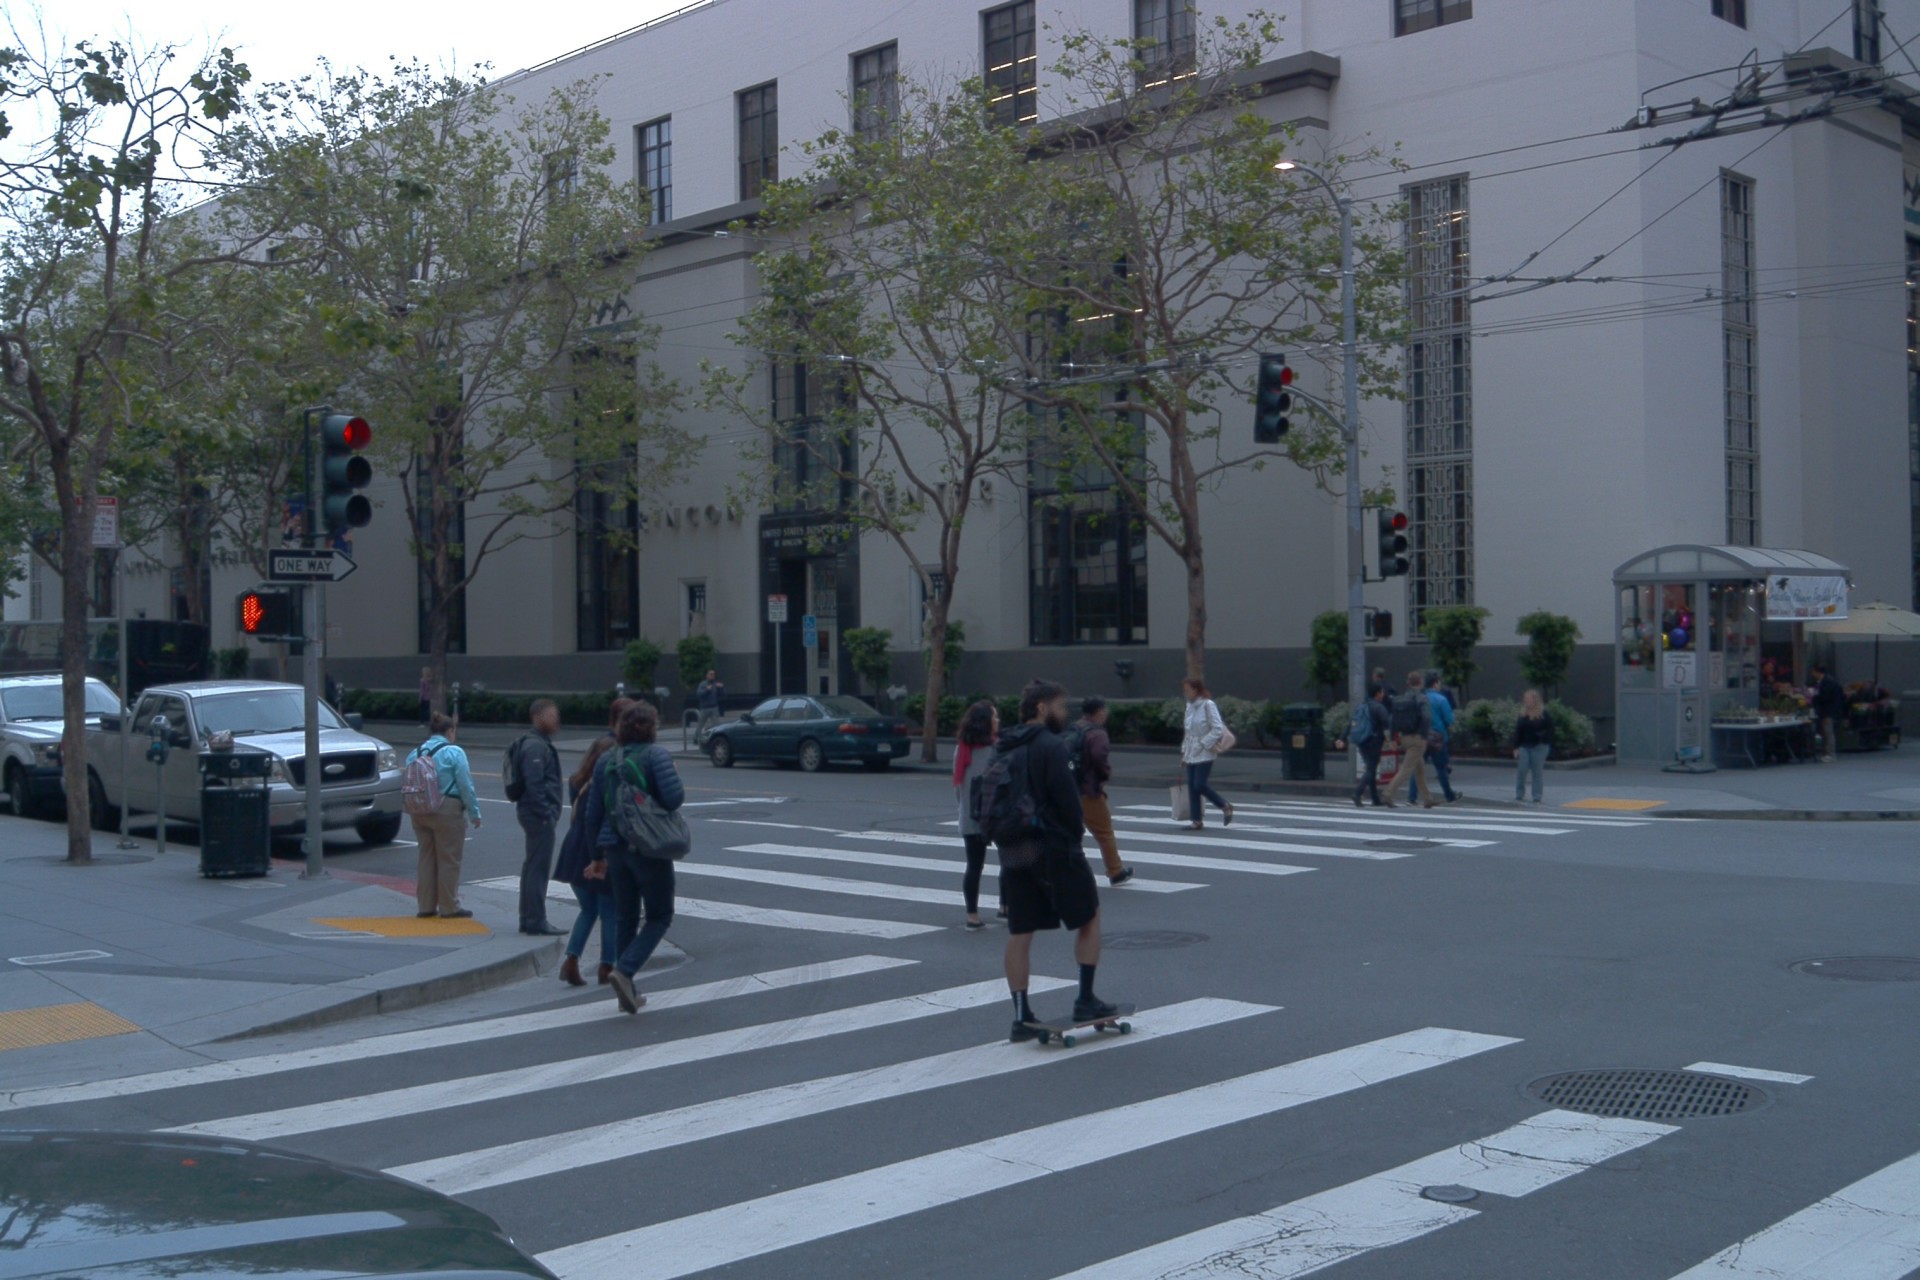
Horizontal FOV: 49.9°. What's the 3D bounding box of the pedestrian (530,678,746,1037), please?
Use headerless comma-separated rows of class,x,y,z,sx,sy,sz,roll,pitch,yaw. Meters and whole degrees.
pedestrian,-1.880,1.231,12.217,0.843,1.969,1.165,0,1,16

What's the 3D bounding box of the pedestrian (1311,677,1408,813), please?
pedestrian,5.249,1.353,27.092,0.974,1.706,0.840,-1,1,-44

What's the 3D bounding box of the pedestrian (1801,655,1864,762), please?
pedestrian,14.668,1.140,34.691,0.751,1.746,0.848,1,1,42

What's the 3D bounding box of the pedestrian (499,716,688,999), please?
pedestrian,-2.414,1.398,13.658,0.883,1.741,0.891,0,1,22

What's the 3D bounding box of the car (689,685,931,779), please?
car,-2.881,1.674,38.794,2.016,1.480,4.678,-1,1,-44

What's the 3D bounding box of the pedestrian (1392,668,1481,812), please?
pedestrian,6.517,1.346,28.215,0.798,1.896,0.984,1,1,43

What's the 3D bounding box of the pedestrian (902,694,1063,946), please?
pedestrian,0.175,1.292,15.285,0.796,1.739,1.043,0,1,28

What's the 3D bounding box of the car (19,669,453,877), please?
car,-8.544,1.392,23.966,2.501,1.940,6.007,-1,1,-44

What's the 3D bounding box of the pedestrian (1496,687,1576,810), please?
pedestrian,8.037,1.495,28.771,0.735,1.646,0.894,1,1,44

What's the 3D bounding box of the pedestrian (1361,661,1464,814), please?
pedestrian,5.798,1.229,26.446,1.051,1.896,0.762,-1,1,-33

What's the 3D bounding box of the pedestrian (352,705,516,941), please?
pedestrian,-4.193,1.427,16.512,0.830,1.767,1.012,0,1,21

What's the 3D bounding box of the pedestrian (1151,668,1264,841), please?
pedestrian,2.678,1.217,22.380,0.939,1.800,0.808,0,1,-24

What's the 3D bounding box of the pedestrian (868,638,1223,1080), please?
pedestrian,0.462,1.058,10.891,1.544,2.118,1.097,-1,1,-42

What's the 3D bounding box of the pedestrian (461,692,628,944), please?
pedestrian,-3.181,1.326,15.813,0.942,1.809,0.849,-1,1,-43

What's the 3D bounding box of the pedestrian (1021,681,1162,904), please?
pedestrian,1.110,1.251,17.355,0.964,1.771,0.716,-1,1,-43
